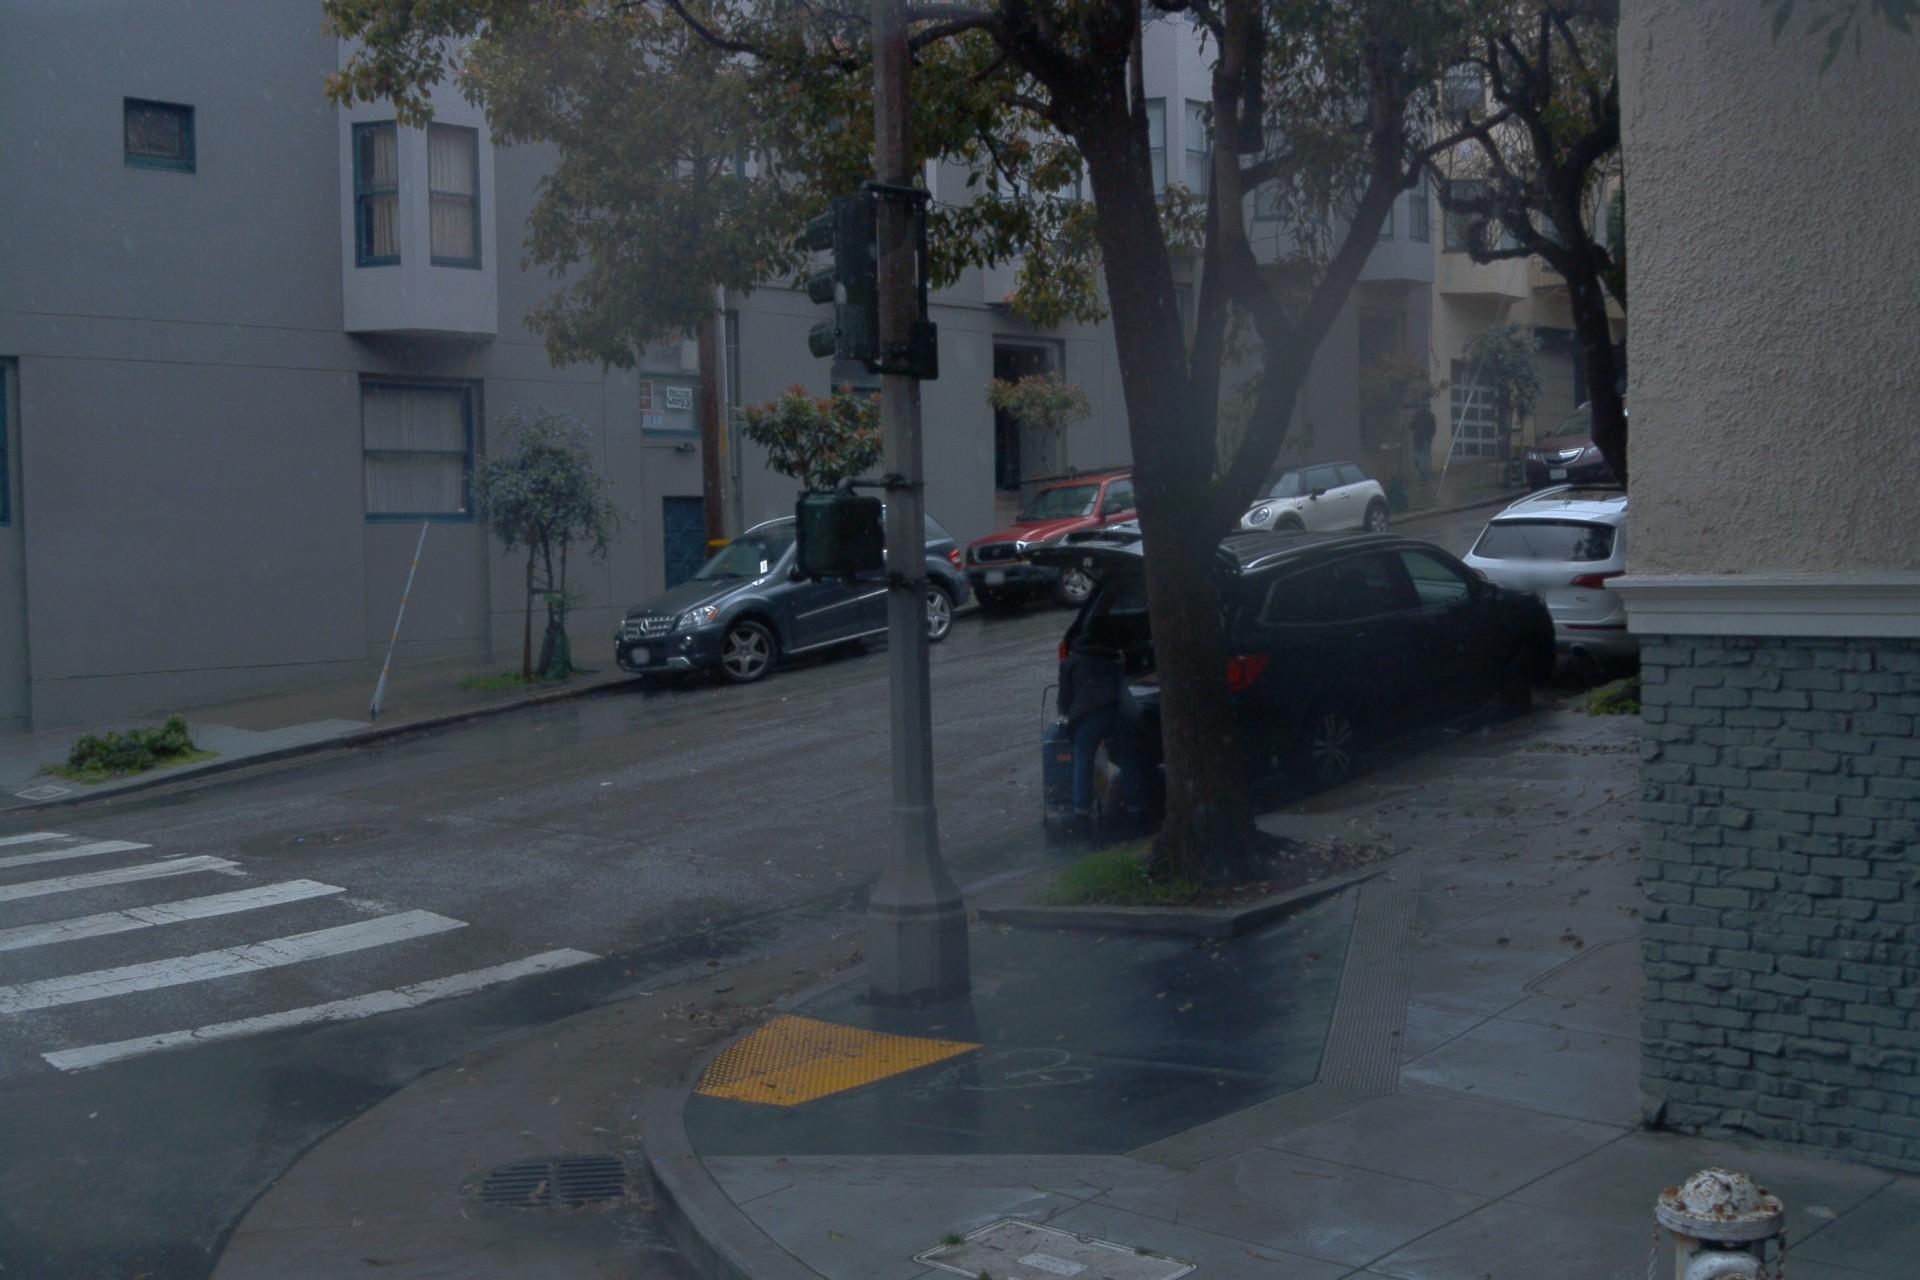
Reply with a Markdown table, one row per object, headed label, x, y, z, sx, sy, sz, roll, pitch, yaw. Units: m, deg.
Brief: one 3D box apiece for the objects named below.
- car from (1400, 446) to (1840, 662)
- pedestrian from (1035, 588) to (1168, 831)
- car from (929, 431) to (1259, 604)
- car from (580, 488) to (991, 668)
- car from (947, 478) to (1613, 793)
| label | x | y | z | sx | sy | sz | roll | pitch | yaw |
| --- | --- | --- | --- | --- | --- | --- | --- | --- | --- |
| car | 6.524 | -0.726 | 19.878 | 2.355 | 1.840 | 4.675 | 0 | 0 | 42 |
| pedestrian | 0.998 | 0.467 | 14.255 | 0.793 | 1.634 | 0.885 | 0 | 0 | 13 |
| car | 1.985 | -1.648 | 29.236 | 4.537 | 2.180 | 2.259 | 0 | 0 | -45 |
| car | -2.050 | -0.675 | 24.964 | 2.225 | 1.980 | 4.671 | 0 | 0 | 45 |
| car | 2.723 | -0.022 | 16.096 | 2.384 | 2.040 | 5.680 | 0 | 0 | 43 |
